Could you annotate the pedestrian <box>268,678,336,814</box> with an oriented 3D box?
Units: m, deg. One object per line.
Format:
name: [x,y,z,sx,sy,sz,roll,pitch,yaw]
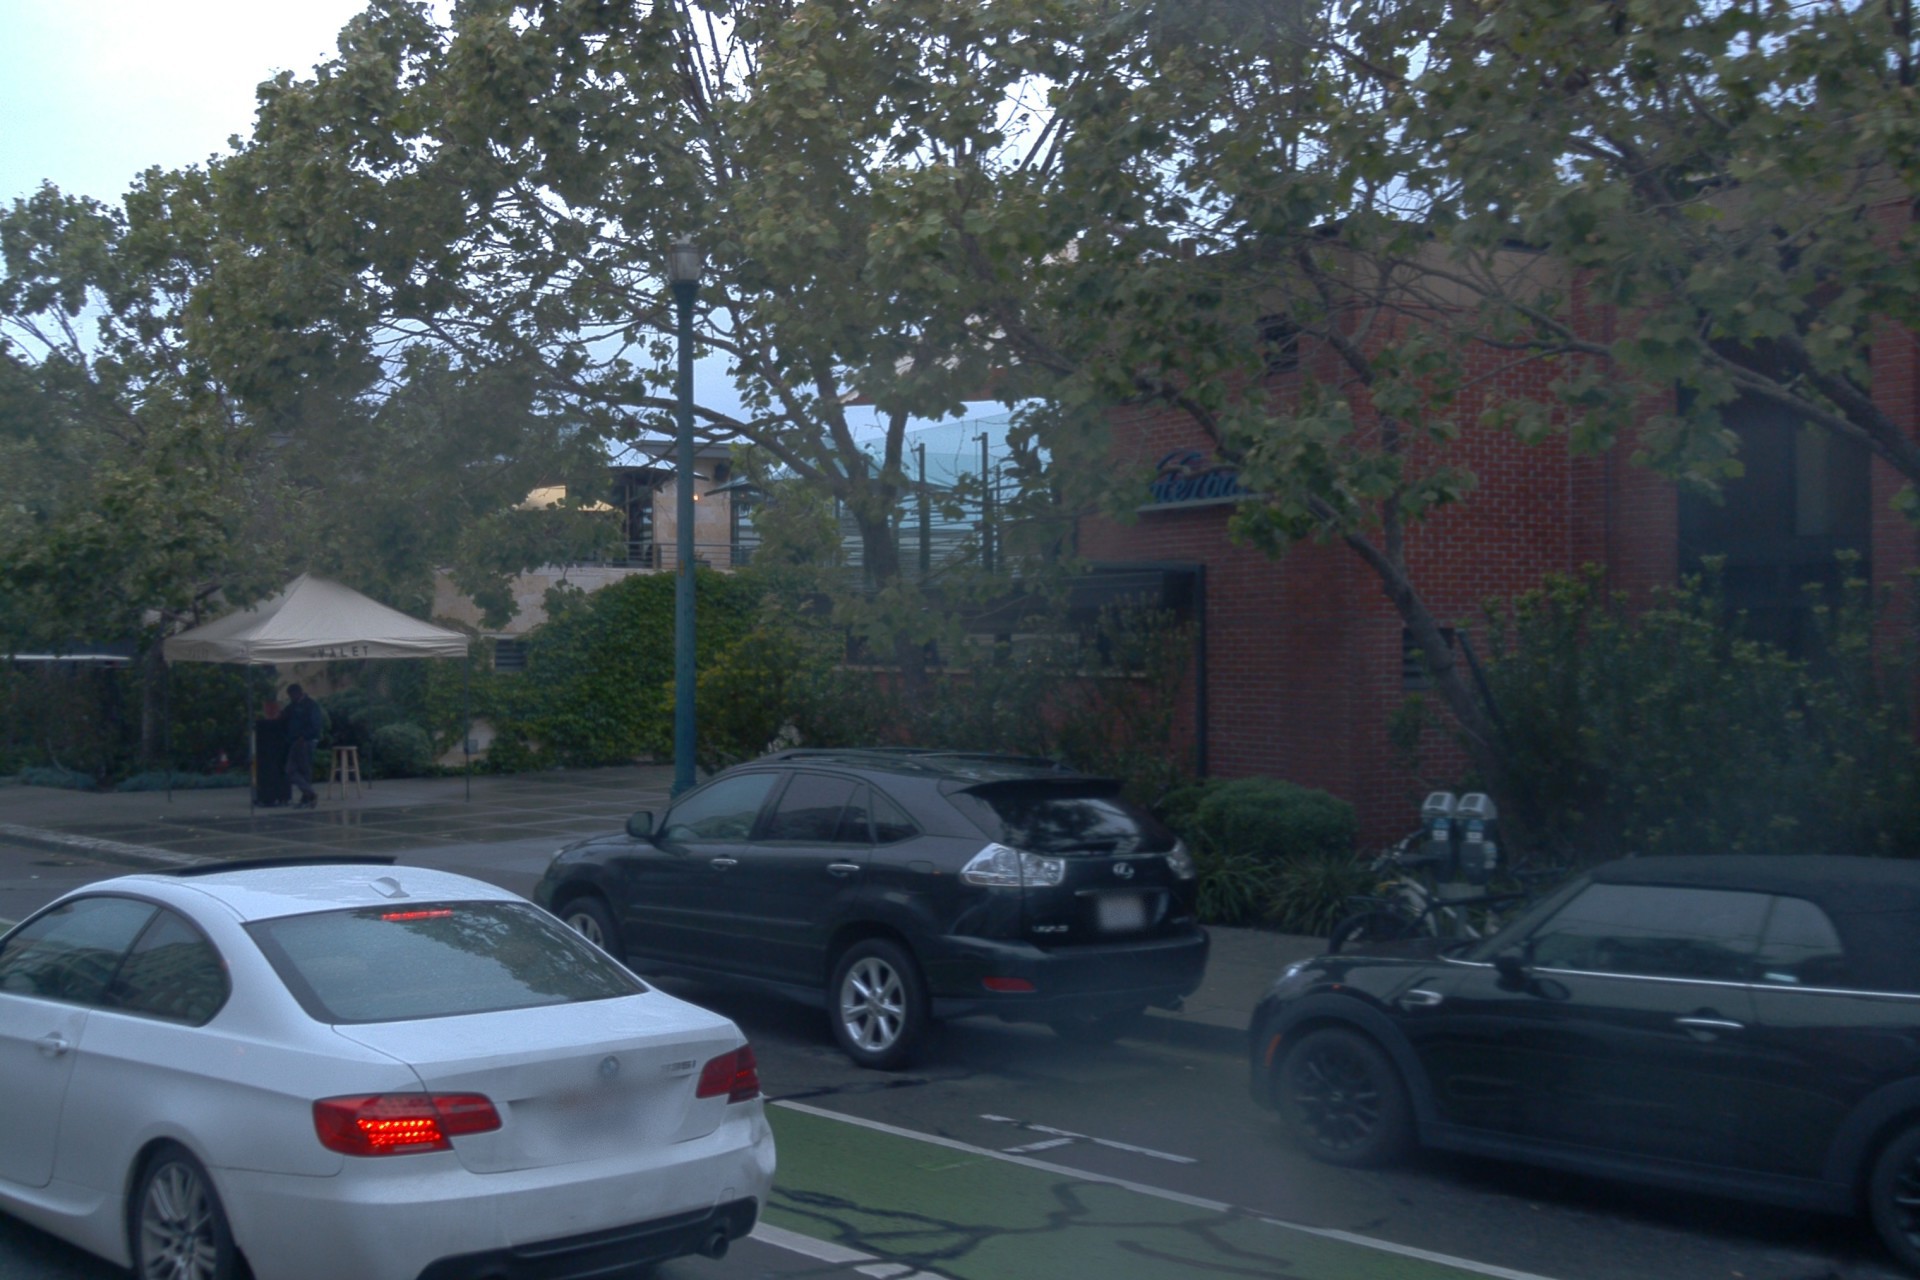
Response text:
pedestrian: [-8.743,1.392,27.498,0.574,1.750,0.863,1,-1,-38]

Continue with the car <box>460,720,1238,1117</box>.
car: [-0.877,1.459,12.613,2.033,1.780,4.898,1,-1,-43]
